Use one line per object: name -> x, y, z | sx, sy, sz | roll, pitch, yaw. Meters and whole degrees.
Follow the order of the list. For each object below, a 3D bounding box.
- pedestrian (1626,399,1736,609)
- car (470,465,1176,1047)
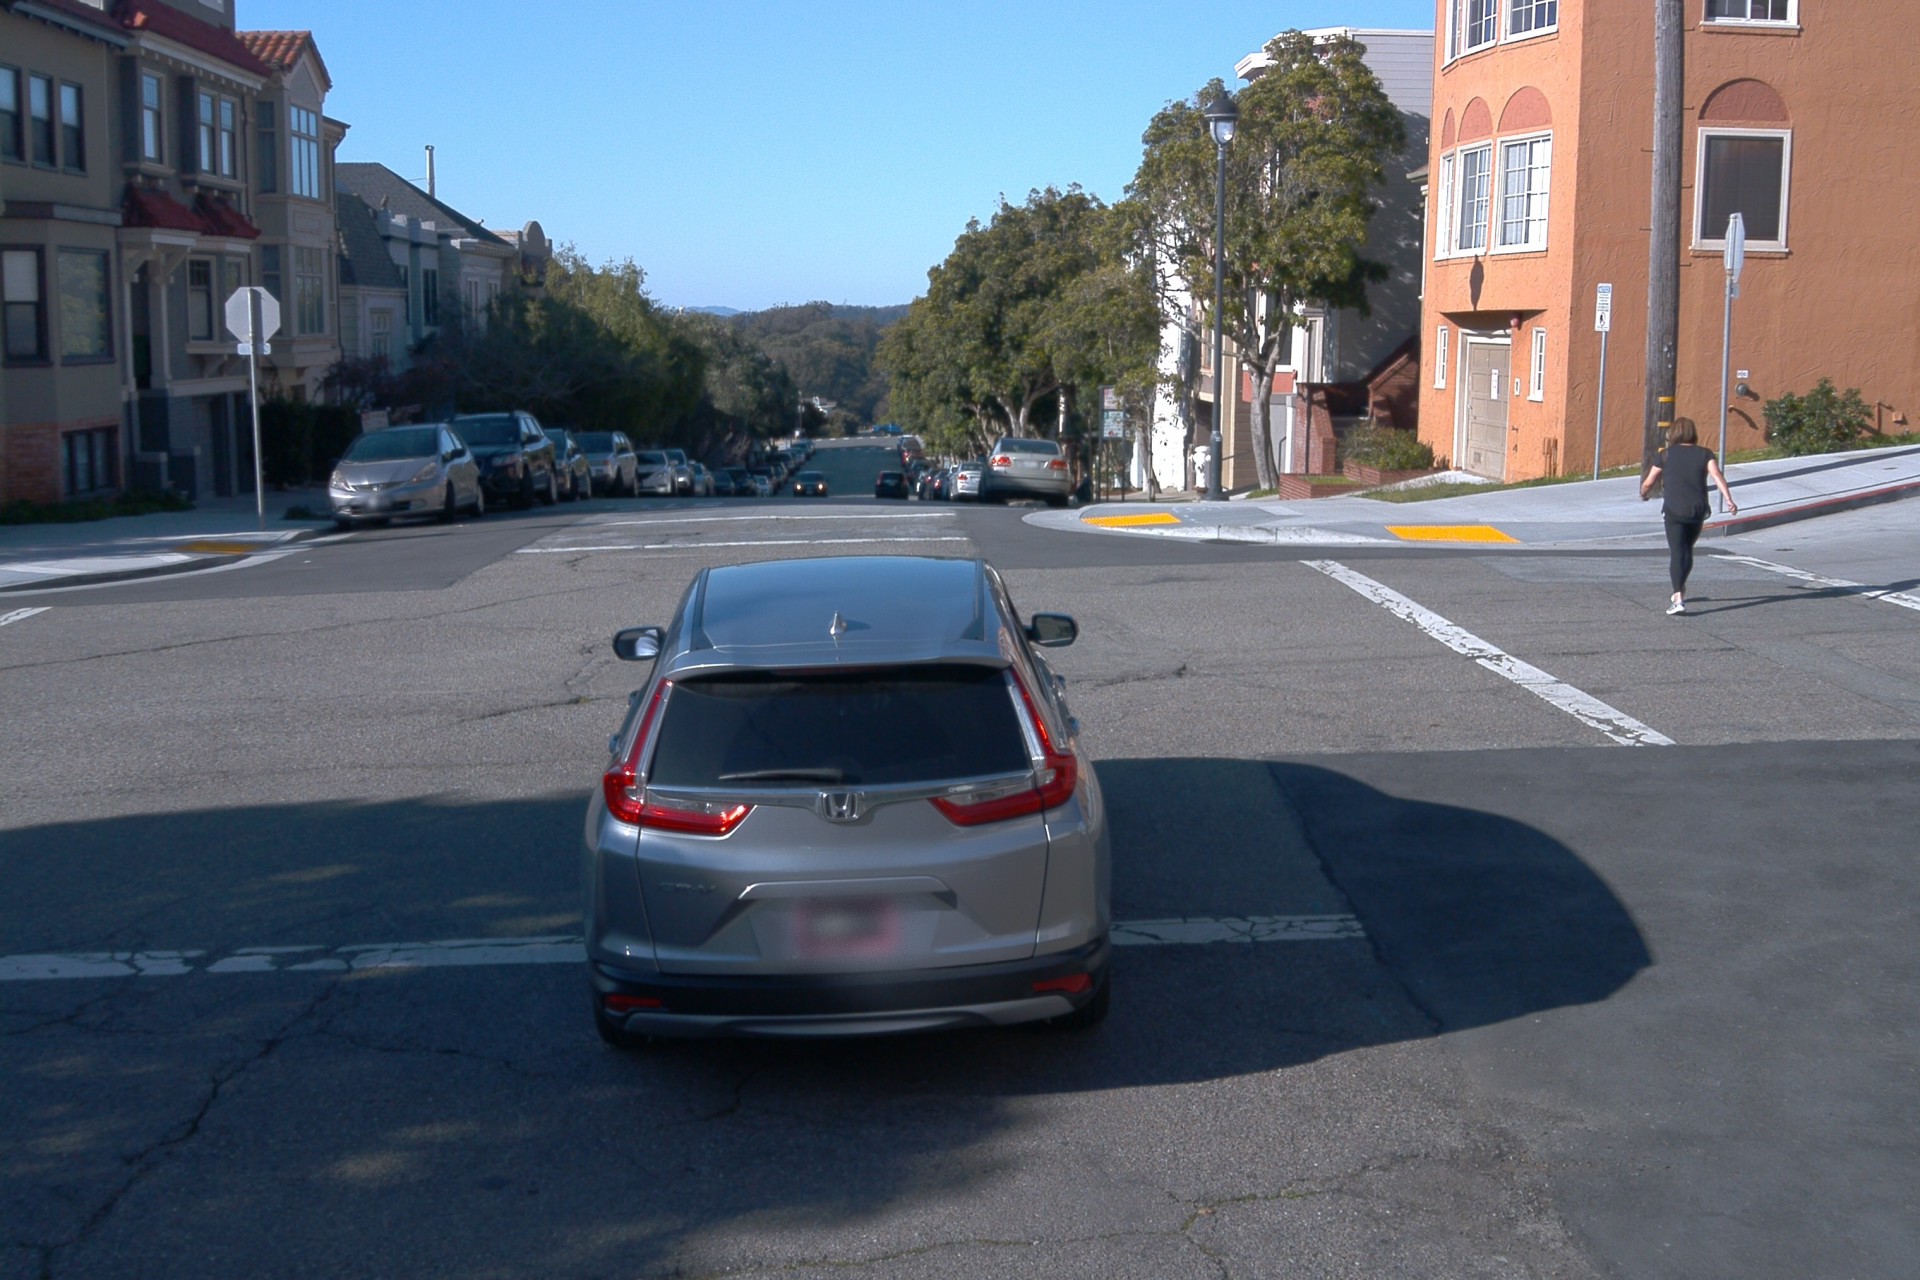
pedestrian -> 5.854, -1.078, 16.857 | 0.731, 1.620, 1.129 | 0, 0, 13
car -> -0.523, 0.373, 8.792 | 2.190, 1.800, 4.696 | 0, 0, -2
